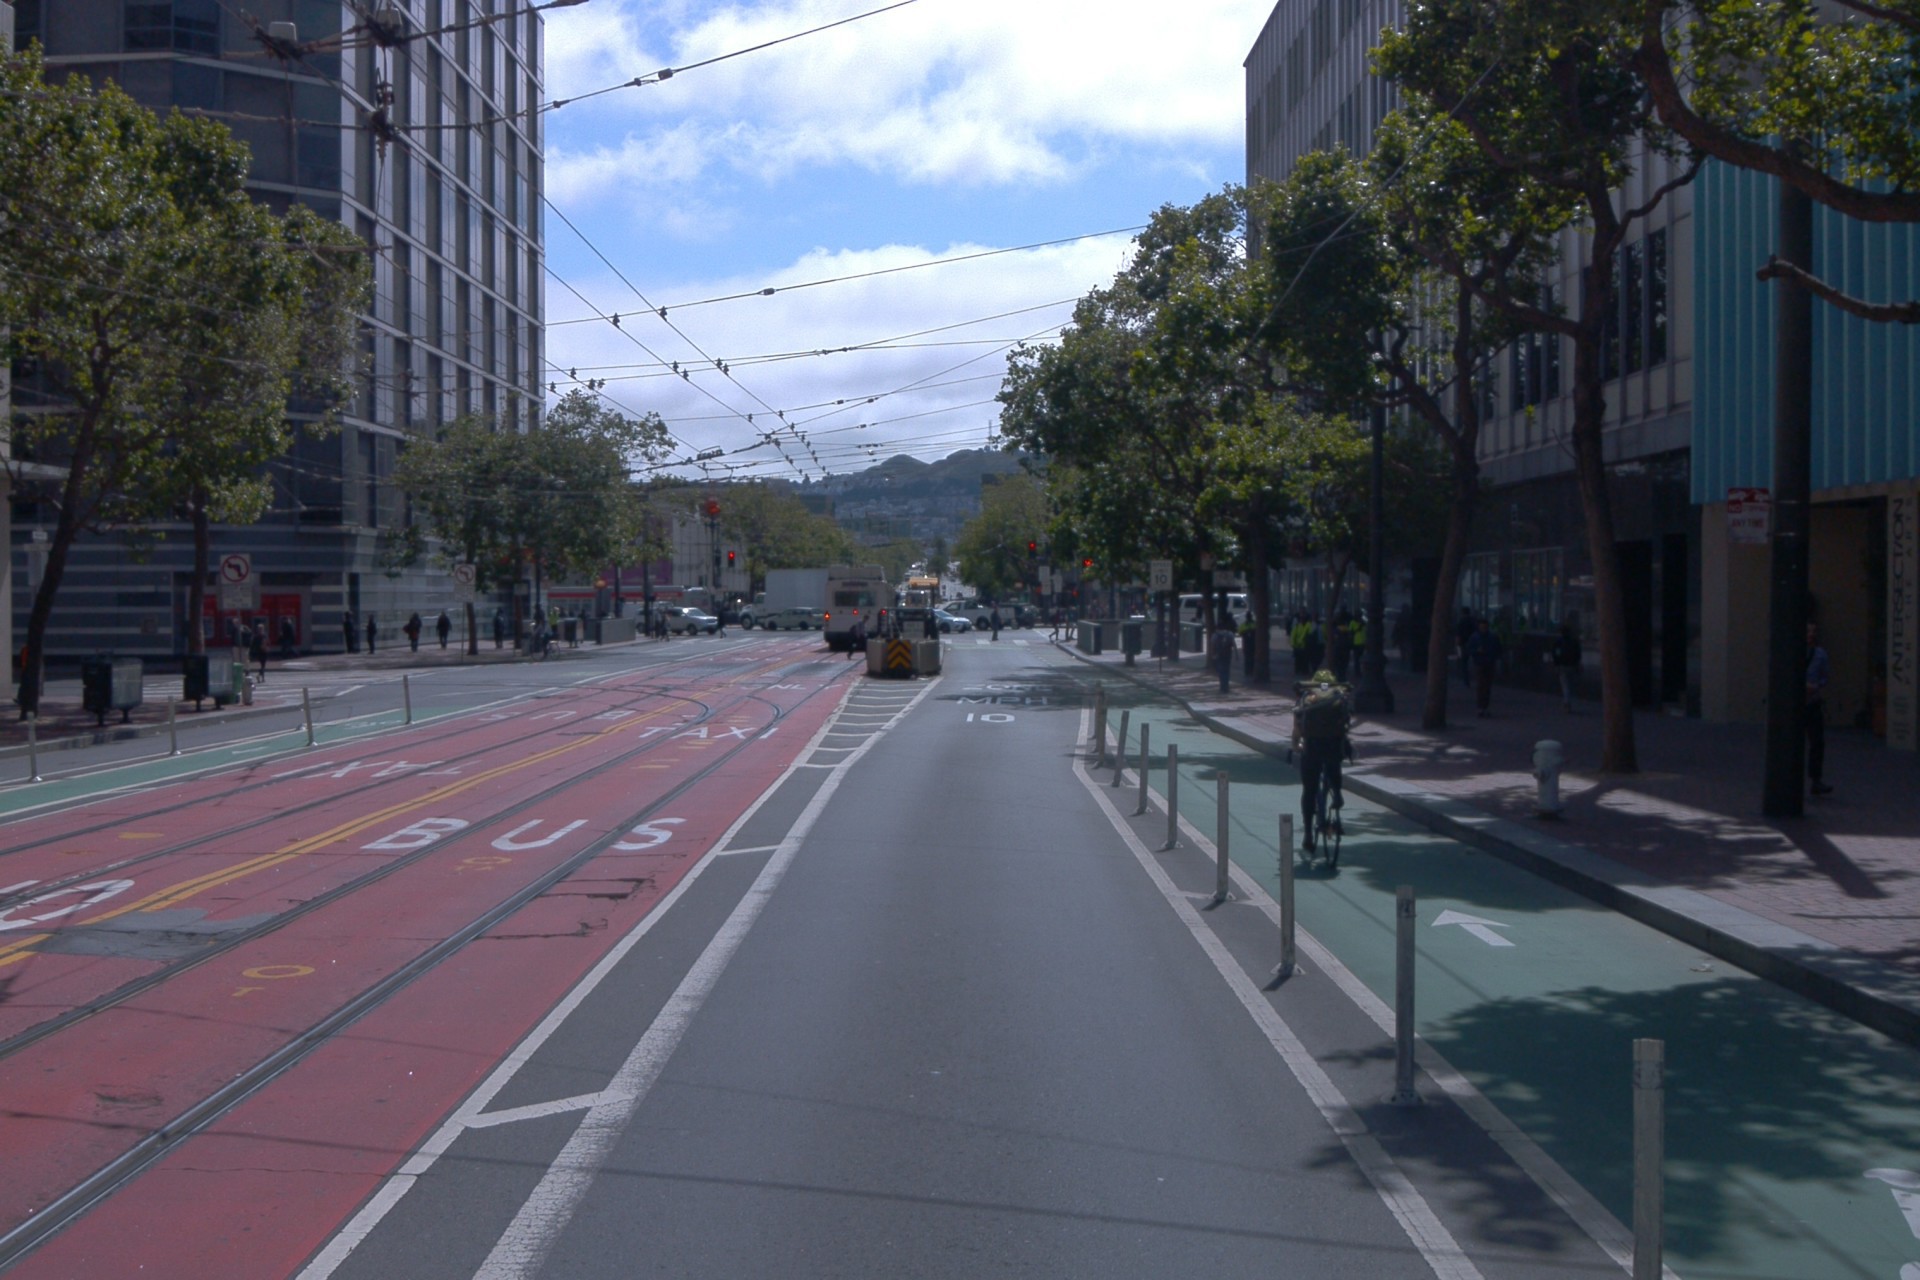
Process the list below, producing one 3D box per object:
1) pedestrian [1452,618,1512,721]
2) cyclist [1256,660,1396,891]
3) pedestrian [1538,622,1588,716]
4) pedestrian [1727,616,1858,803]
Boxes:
[{"bbox_3d":[9.103,0.497,35.888,0.810,1.770,1.171,0,1,3],"label":"pedestrian"},{"bbox_3d":[3.003,1.075,17.029,0.806,1.770,1.802,0,1,-1],"label":"cyclist"},{"bbox_3d":[10.786,0.505,36.785,0.678,1.660,1.043,0,1,6],"label":"pedestrian"},{"bbox_3d":[8.532,0.688,21.116,0.809,1.860,1.172,0,1,-4],"label":"pedestrian"}]
